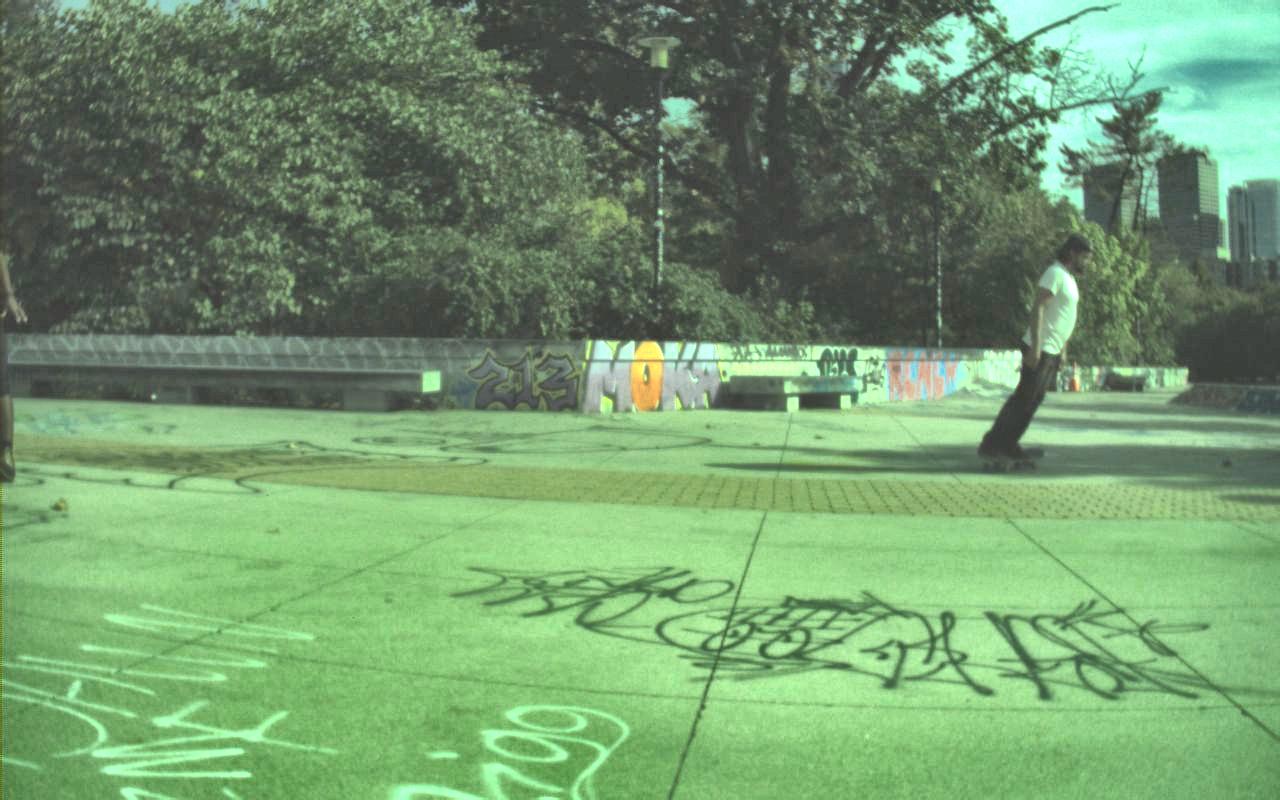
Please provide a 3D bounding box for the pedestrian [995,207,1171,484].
[{"bbox_3d":[3.162,-0.363,8.500,1.010,1.827,0.864,0,0,-32],"label":"pedestrian"}]

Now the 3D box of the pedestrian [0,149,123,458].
[{"bbox_3d":[-3.247,-0.467,5.882,0.833,1.501,0.791,1,0,39],"label":"pedestrian"}]
